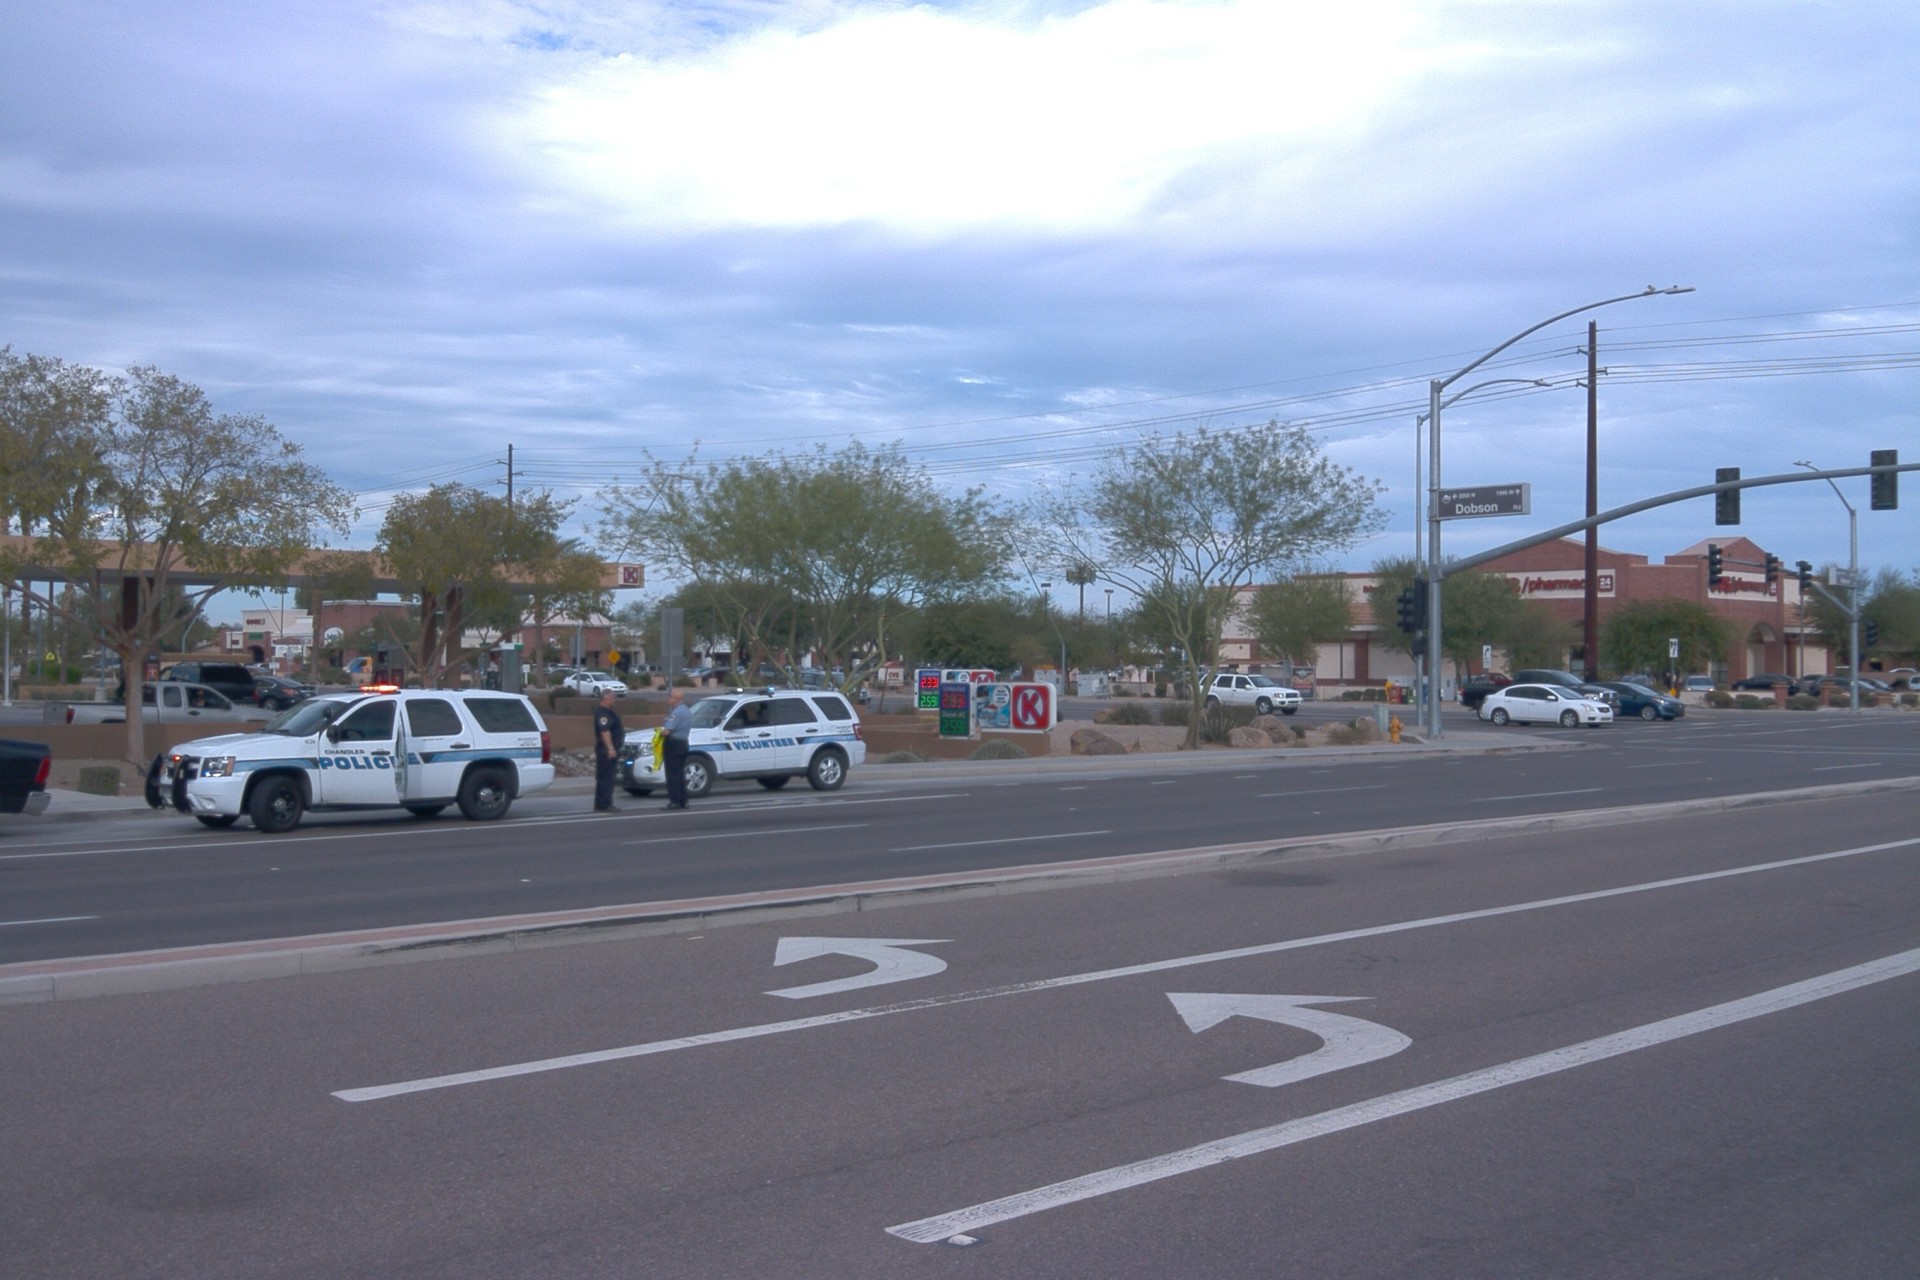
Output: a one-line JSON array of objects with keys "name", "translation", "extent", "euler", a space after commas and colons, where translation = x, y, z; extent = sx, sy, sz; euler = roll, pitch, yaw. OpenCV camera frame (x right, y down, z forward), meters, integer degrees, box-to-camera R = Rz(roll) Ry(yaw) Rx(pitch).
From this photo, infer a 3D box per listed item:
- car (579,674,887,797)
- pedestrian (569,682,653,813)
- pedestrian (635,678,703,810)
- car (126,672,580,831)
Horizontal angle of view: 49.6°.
[{"name": "car", "translation": [-3.712, 1.513, 34.531], "extent": [4.770, 1.860, 2.000], "euler": [1, 0, -41]}, {"name": "pedestrian", "translation": [-5.067, 1.542, 30.177], "extent": [0.906, 1.830, 0.964], "euler": [1, 0, -30]}, {"name": "pedestrian", "translation": [-4.267, 1.512, 30.543], "extent": [0.763, 1.880, 0.741], "euler": [1, 0, 8]}, {"name": "car", "translation": [-8.108, 1.411, 28.154], "extent": [5.441, 1.900, 2.233], "euler": [1, 0, -42]}]
